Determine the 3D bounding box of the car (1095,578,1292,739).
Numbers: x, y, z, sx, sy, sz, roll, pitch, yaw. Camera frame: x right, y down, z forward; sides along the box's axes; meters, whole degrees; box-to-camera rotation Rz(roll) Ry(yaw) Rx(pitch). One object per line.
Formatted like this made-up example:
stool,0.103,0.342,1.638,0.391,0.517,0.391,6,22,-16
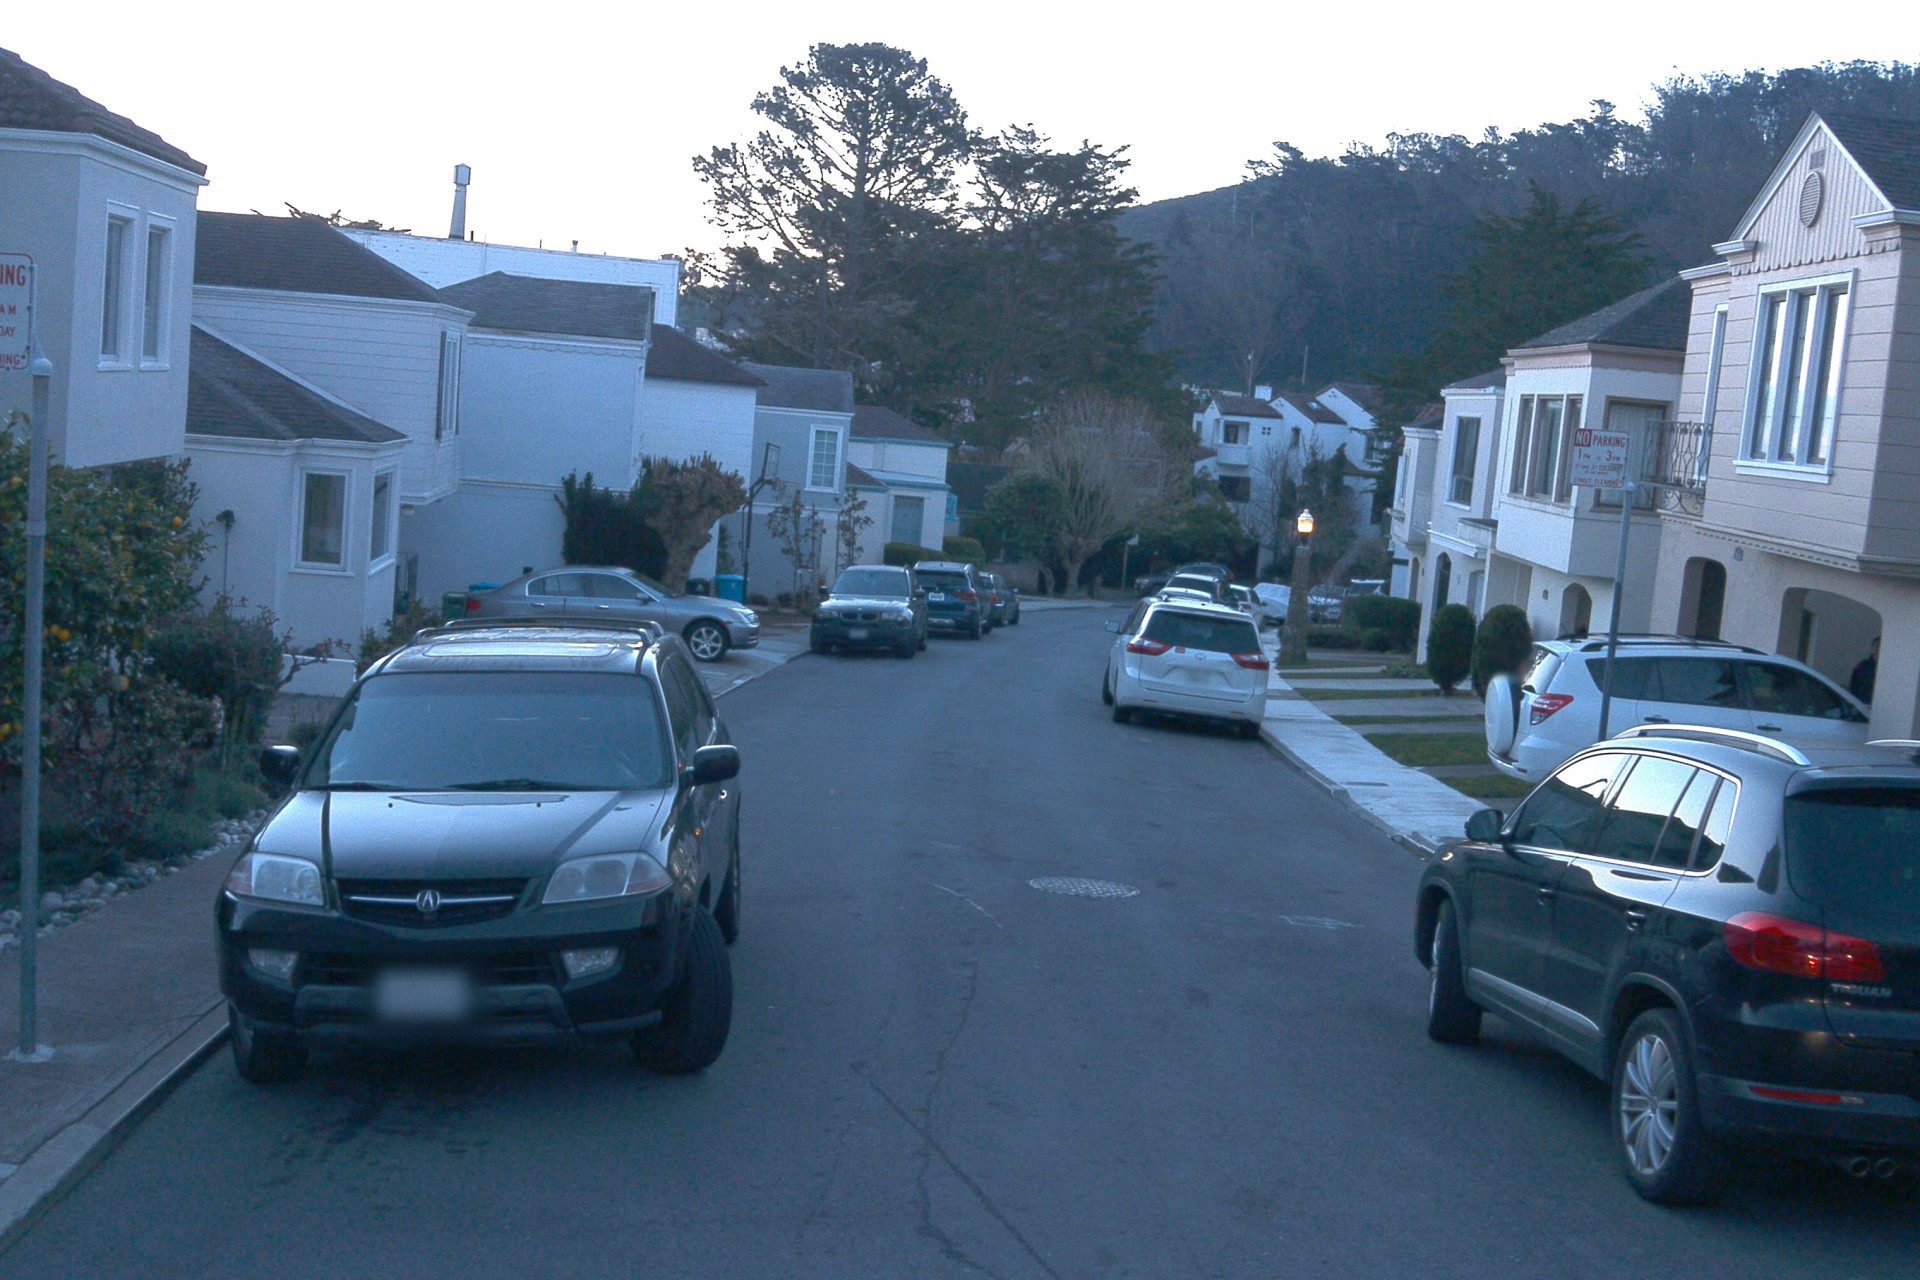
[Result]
car,3.147,0.226,29.049,2.374,2.050,5.078,0,0,2

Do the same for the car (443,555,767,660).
car,-5.528,-0.499,32.744,4.770,1.580,1.989,0,0,-2

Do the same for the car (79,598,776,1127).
car,-2.132,0.788,9.935,2.326,1.880,4.864,0,0,-3
